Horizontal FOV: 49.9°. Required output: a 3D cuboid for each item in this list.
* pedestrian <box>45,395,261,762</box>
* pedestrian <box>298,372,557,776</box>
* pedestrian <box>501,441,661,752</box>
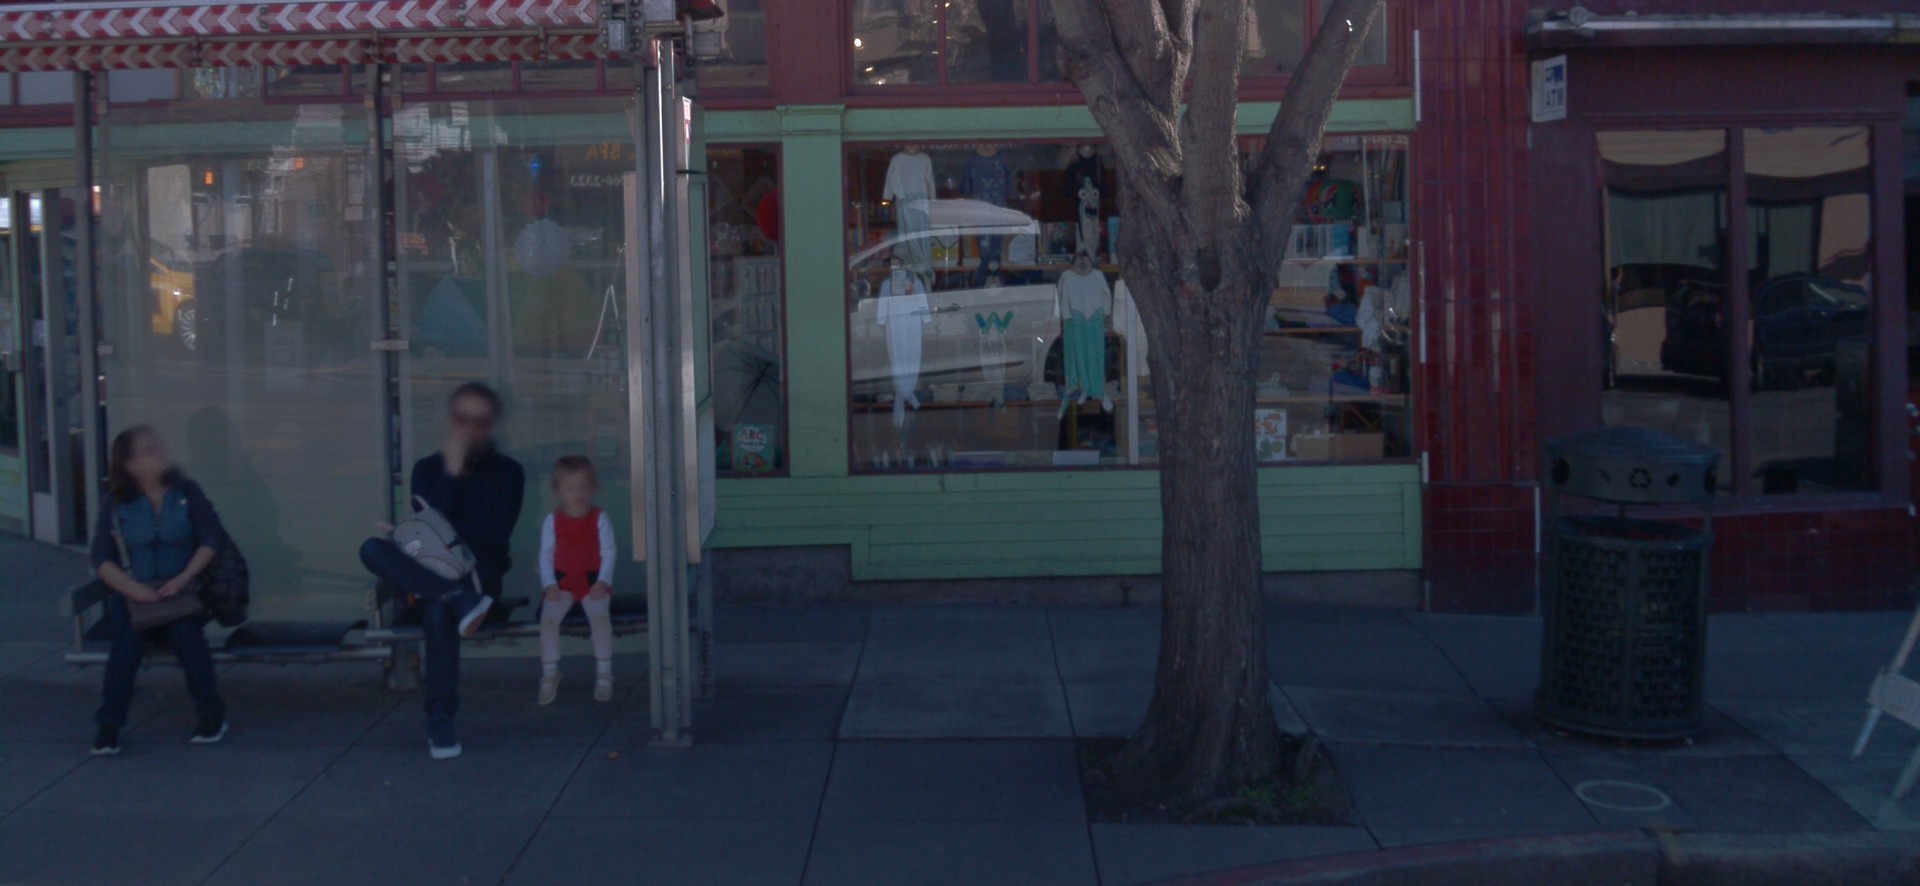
[{"bbox_3d":[-3.127,0.485,8.060,0.737,1.258,0.794,-1,2,-19],"label":"pedestrian"},{"bbox_3d":[-2.033,0.463,7.999,0.753,1.398,0.926,0,2,0],"label":"pedestrian"},{"bbox_3d":[-1.462,0.574,8.030,0.528,1.098,0.572,0,2,-3],"label":"pedestrian"}]
